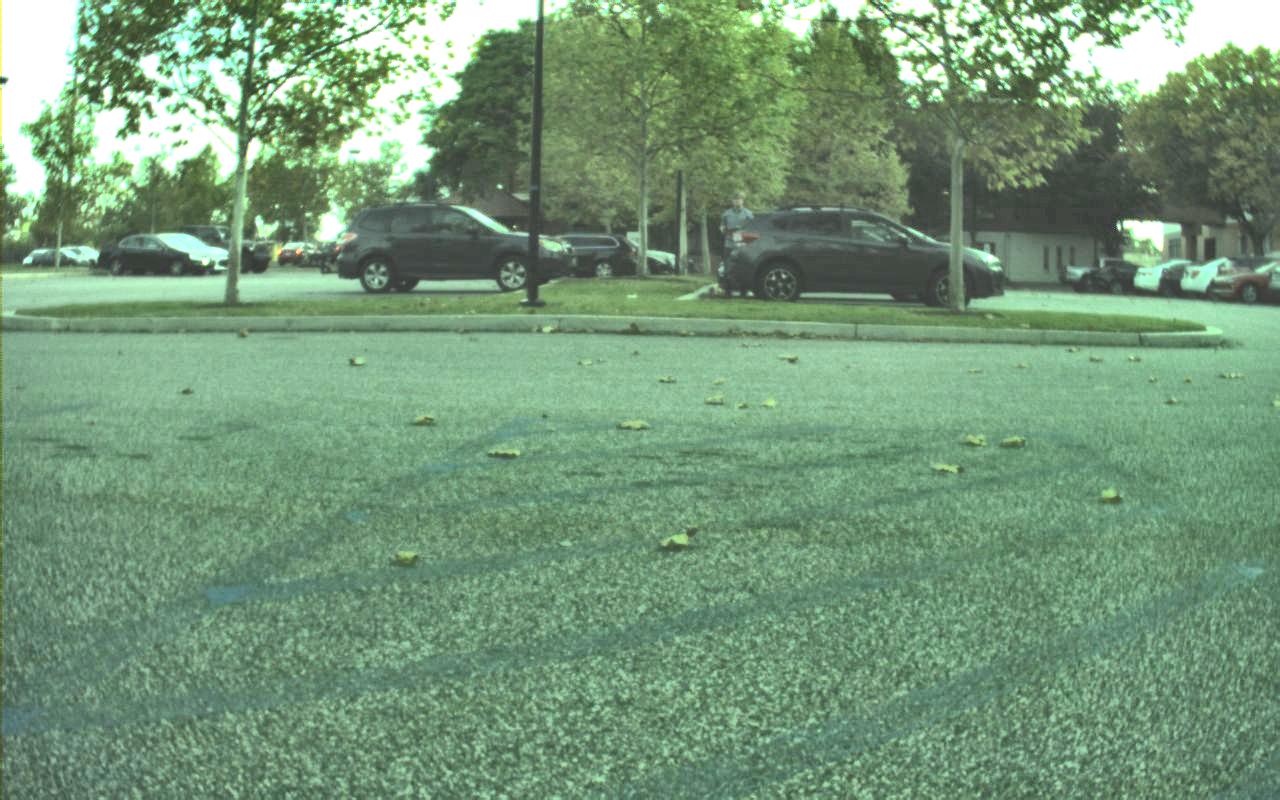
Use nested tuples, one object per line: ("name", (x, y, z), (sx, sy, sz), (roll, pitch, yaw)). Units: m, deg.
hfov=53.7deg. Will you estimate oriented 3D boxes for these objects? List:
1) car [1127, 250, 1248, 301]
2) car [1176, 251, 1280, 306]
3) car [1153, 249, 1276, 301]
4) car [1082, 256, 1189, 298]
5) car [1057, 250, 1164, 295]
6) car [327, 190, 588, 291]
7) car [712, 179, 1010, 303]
("car", (20.896, -4.636, 44.438), (4.569, 1.719, 2.001), (1, 1, 9))
("car", (20.687, -4.049, 39.315), (4.451, 1.687, 1.958), (1, 1, 10))
("car", (20.840, -4.413, 41.810), (4.407, 1.655, 1.956), (1, 1, 8))
("car", (21.845, -5.290, 52.078), (4.581, 1.601, 1.964), (0, 1, -1))
("car", (22.525, -5.987, 57.065), (4.998, 1.917, 2.103), (1, 1, 6))
("car", (-3.436, -2.958, 23.635), (4.629, 1.674, 1.982), (1, 1, 7))
("car", (3.462, -2.491, 19.898), (4.604, 1.734, 1.975), (1, 1, 4))
